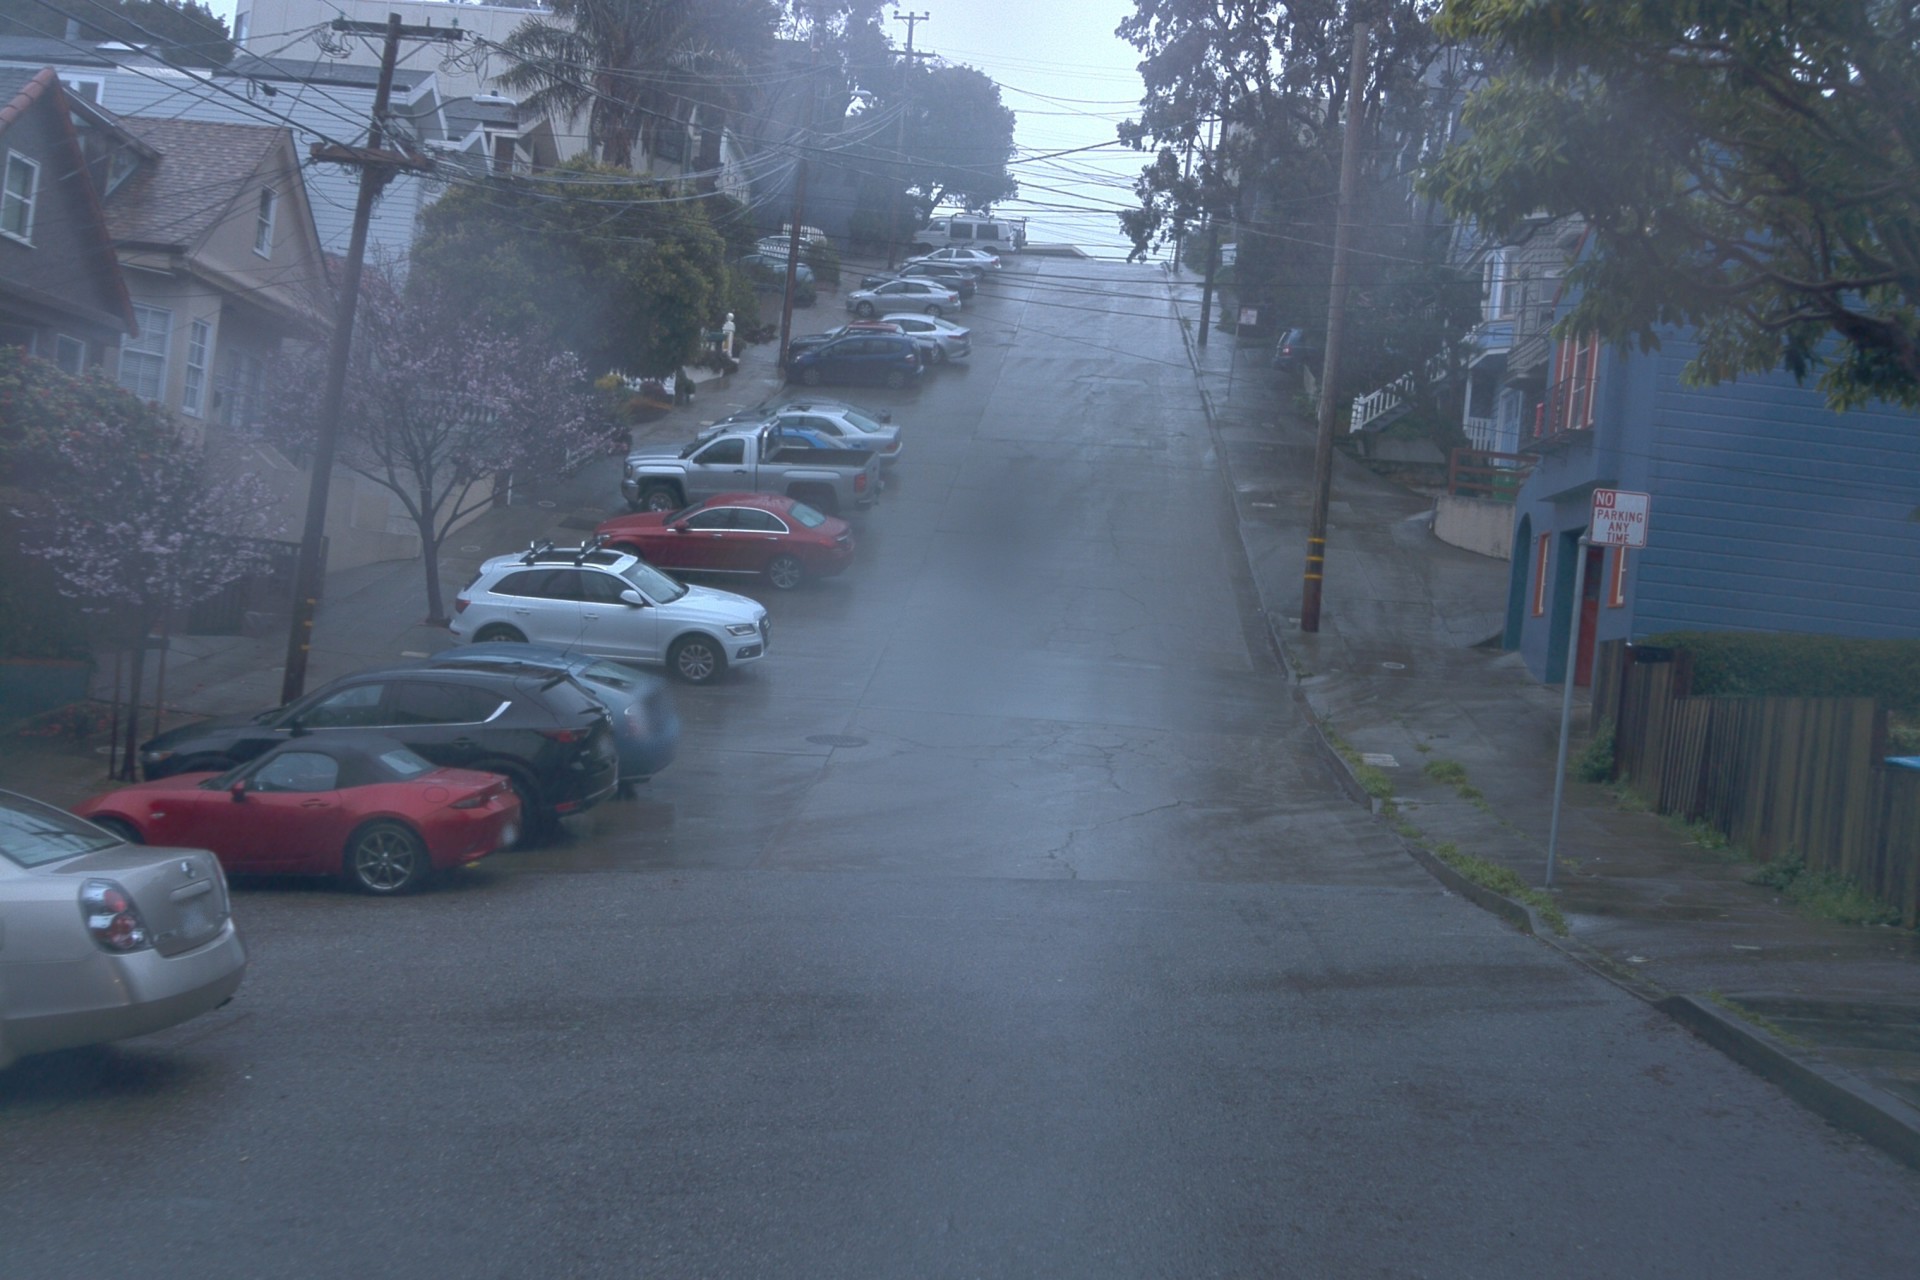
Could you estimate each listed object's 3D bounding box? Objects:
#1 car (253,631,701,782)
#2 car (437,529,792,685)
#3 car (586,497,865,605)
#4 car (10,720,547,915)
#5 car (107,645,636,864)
[{"bbox_3d":[-5.178,0.689,22.556,4.346,1.550,1.983,0,0,6],"label":"car"},{"bbox_3d":[-4.929,-0.450,30.060,4.700,2.170,2.218,0,0,4],"label":"car"},{"bbox_3d":[-4.099,-1.545,36.673,4.627,1.820,1.879,0,0,5],"label":"car"},{"bbox_3d":[-5.581,1.433,17.306,3.824,1.450,1.932,0,0,3],"label":"car"},{"bbox_3d":[-5.526,1.037,19.862,4.419,1.960,2.166,0,0,4],"label":"car"}]
